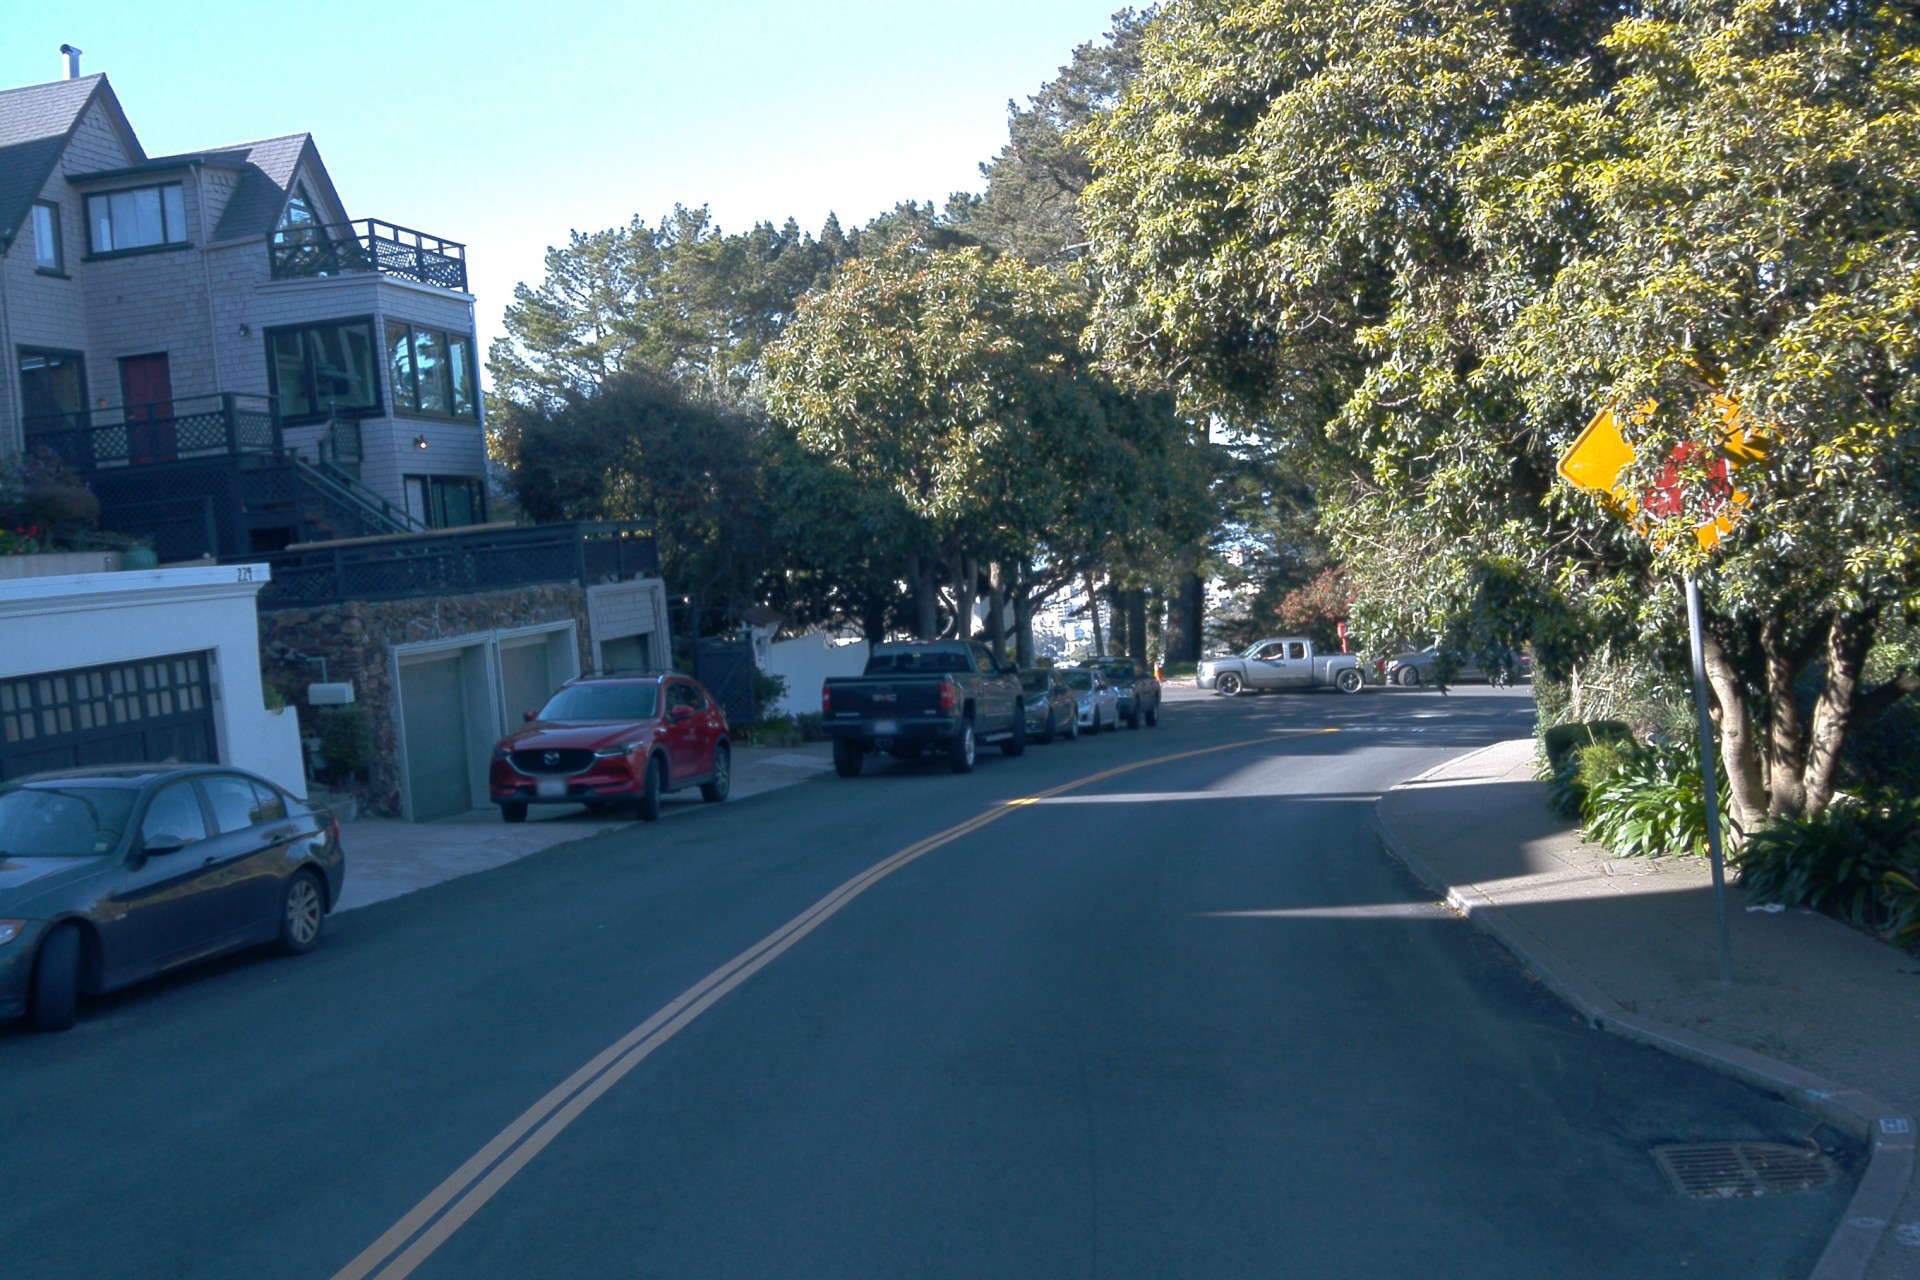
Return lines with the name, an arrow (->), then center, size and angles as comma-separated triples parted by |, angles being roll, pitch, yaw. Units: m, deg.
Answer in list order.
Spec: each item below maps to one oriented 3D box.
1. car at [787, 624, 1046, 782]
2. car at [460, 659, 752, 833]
car -> -0.502, 0.889, 32.006 | 2.650, 2.200, 6.099 | 0, 0, 12
car -> -4.091, 1.166, 24.841 | 2.137, 1.860, 4.614 | 0, 0, 8
